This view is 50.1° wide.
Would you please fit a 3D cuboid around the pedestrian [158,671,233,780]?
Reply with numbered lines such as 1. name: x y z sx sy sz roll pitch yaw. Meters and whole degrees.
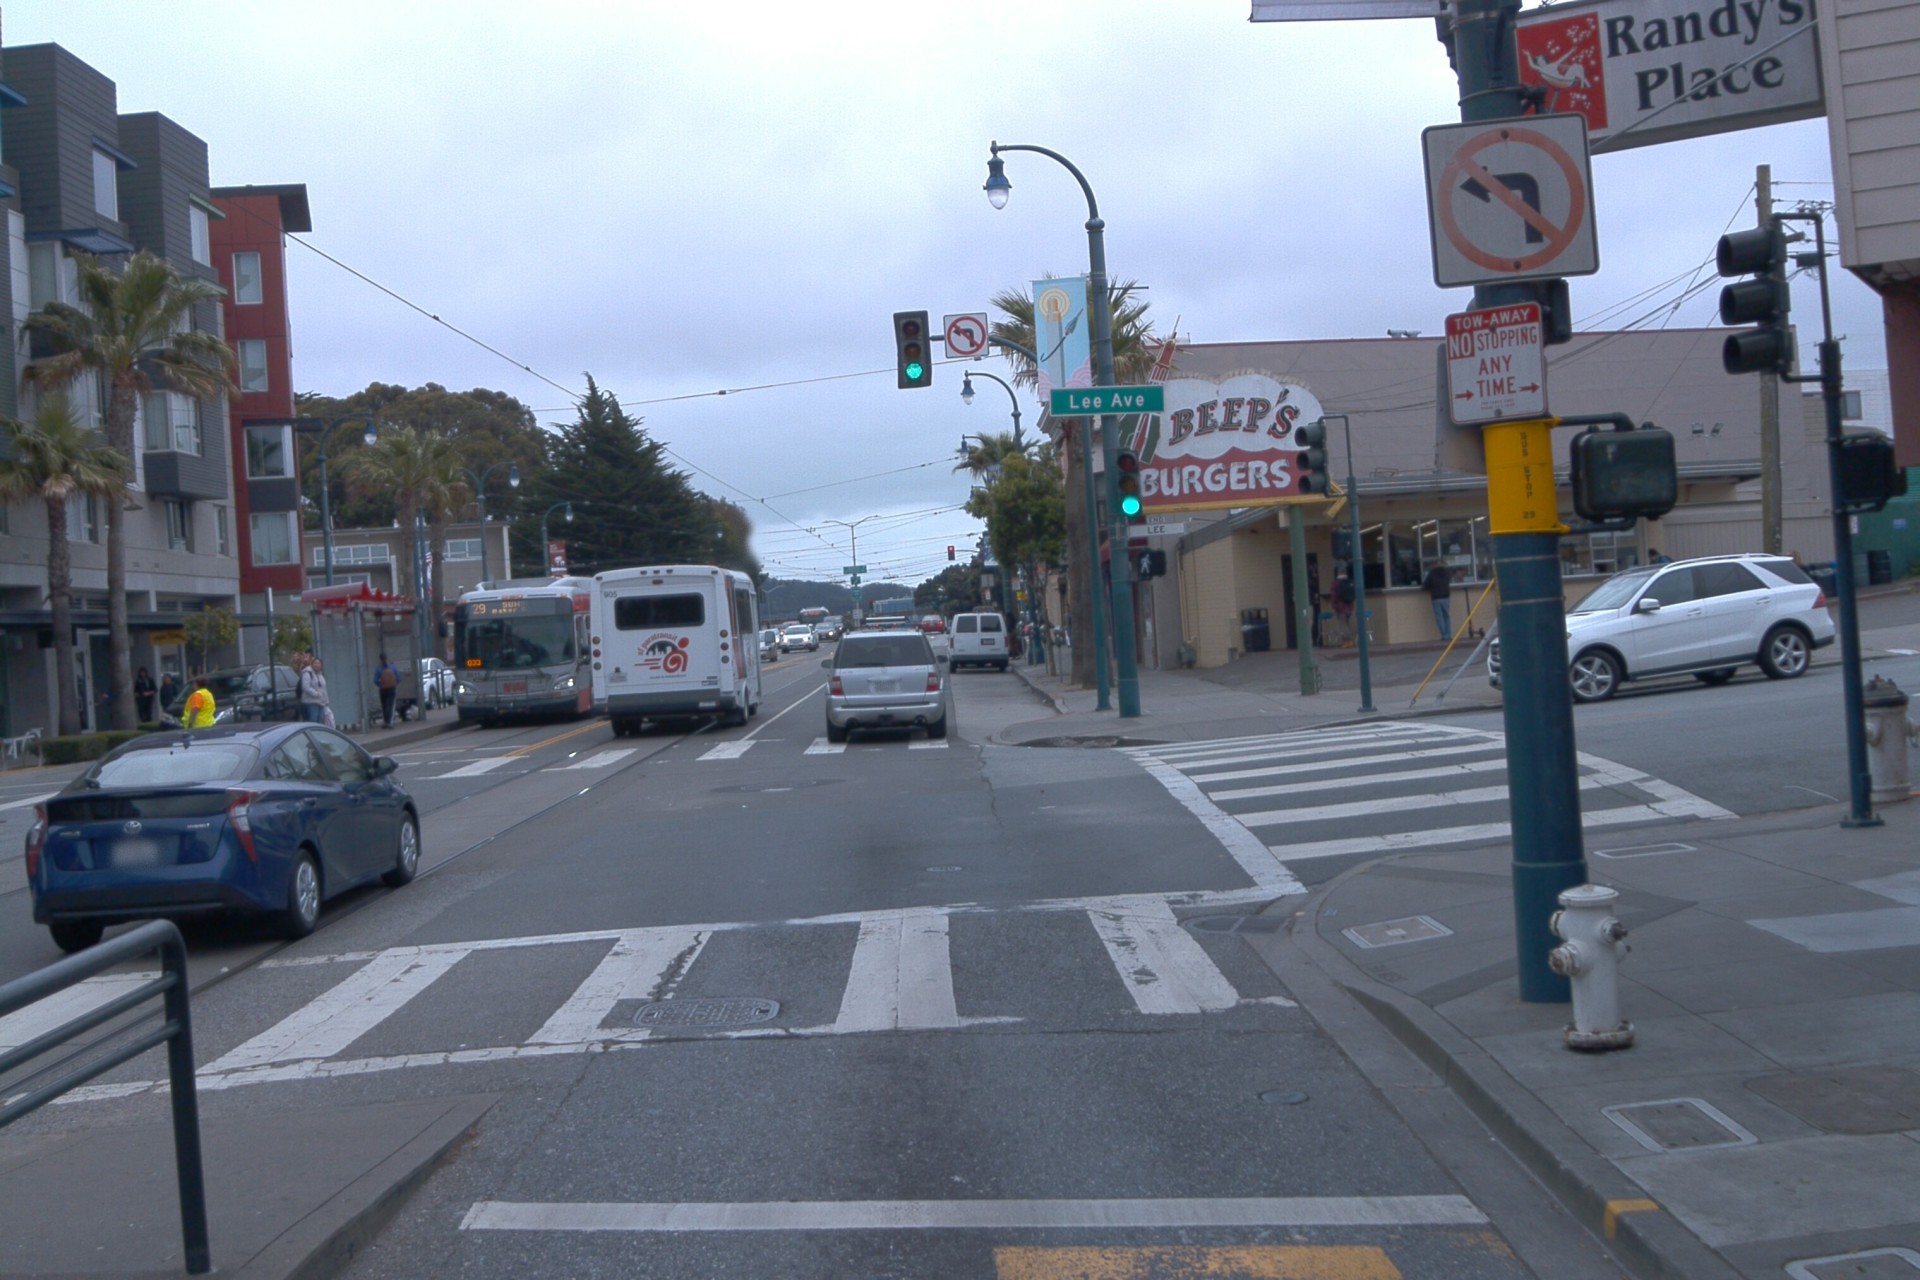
1. pedestrian: -12.472 1.382 33.549 0.704 1.700 0.893 1 1 41

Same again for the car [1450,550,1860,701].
1. car: 9.551 -0.231 28.397 4.906 1.960 2.242 -1 1 -14

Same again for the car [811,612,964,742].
1. car: -1.144 0.524 33.065 2.302 1.940 4.182 0 1 -1
